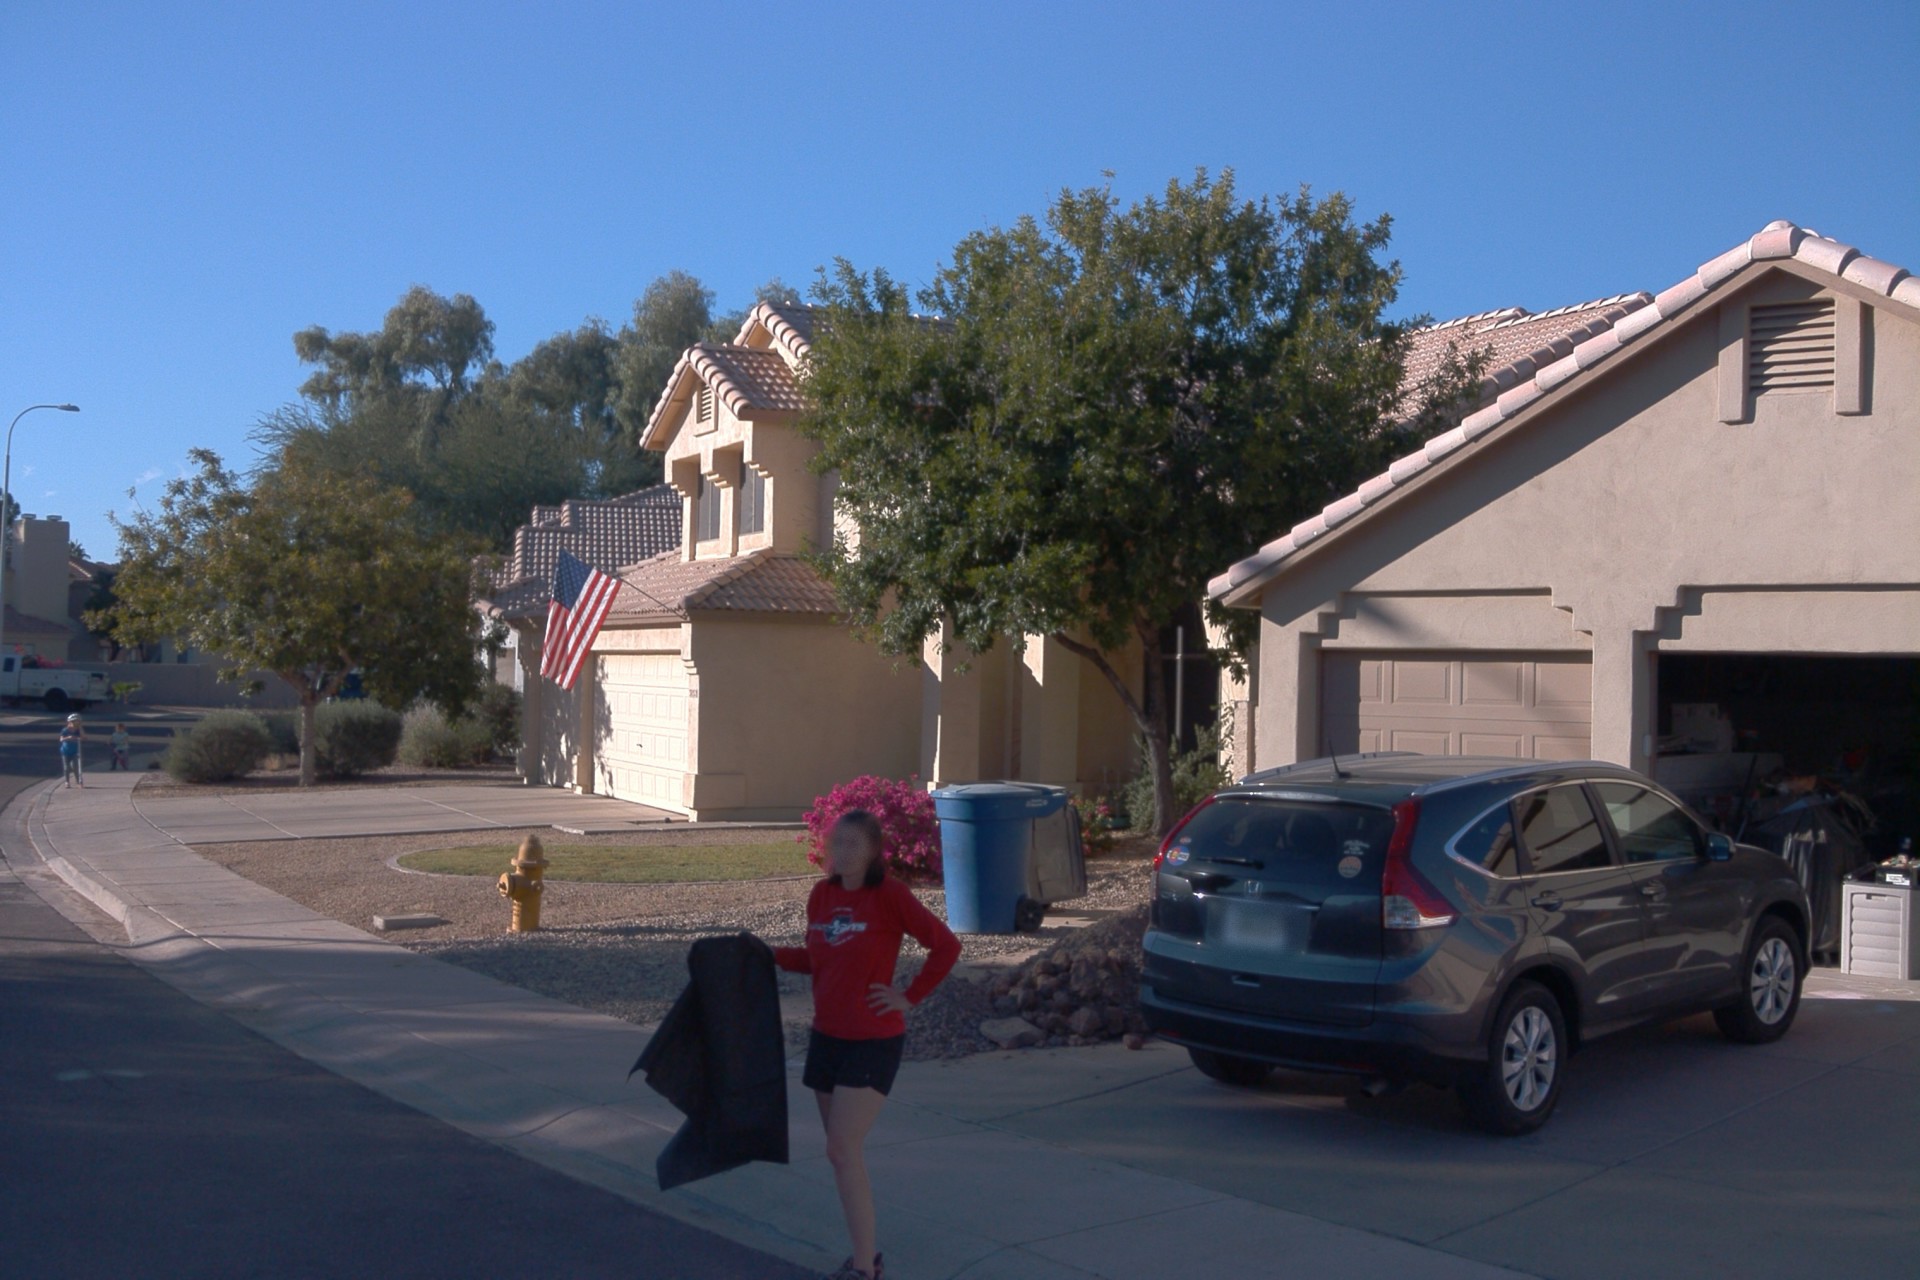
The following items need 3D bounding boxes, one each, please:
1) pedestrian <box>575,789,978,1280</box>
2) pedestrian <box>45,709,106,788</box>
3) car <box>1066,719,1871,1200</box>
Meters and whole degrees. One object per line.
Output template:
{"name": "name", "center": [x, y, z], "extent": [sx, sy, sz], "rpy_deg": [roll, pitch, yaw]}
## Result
{"name": "pedestrian", "center": [-0.604, 1.450, 7.289], "extent": [1.266, 1.750, 1.308], "rpy_deg": [1, 0, -1]}
{"name": "pedestrian", "center": [-14.361, 1.752, 33.571], "extent": [0.538, 1.230, 1.177], "rpy_deg": [1, -1, -42]}
{"name": "car", "center": [2.832, 1.406, 10.841], "extent": [2.067, 1.870, 4.457], "rpy_deg": [0, -1, 45]}
